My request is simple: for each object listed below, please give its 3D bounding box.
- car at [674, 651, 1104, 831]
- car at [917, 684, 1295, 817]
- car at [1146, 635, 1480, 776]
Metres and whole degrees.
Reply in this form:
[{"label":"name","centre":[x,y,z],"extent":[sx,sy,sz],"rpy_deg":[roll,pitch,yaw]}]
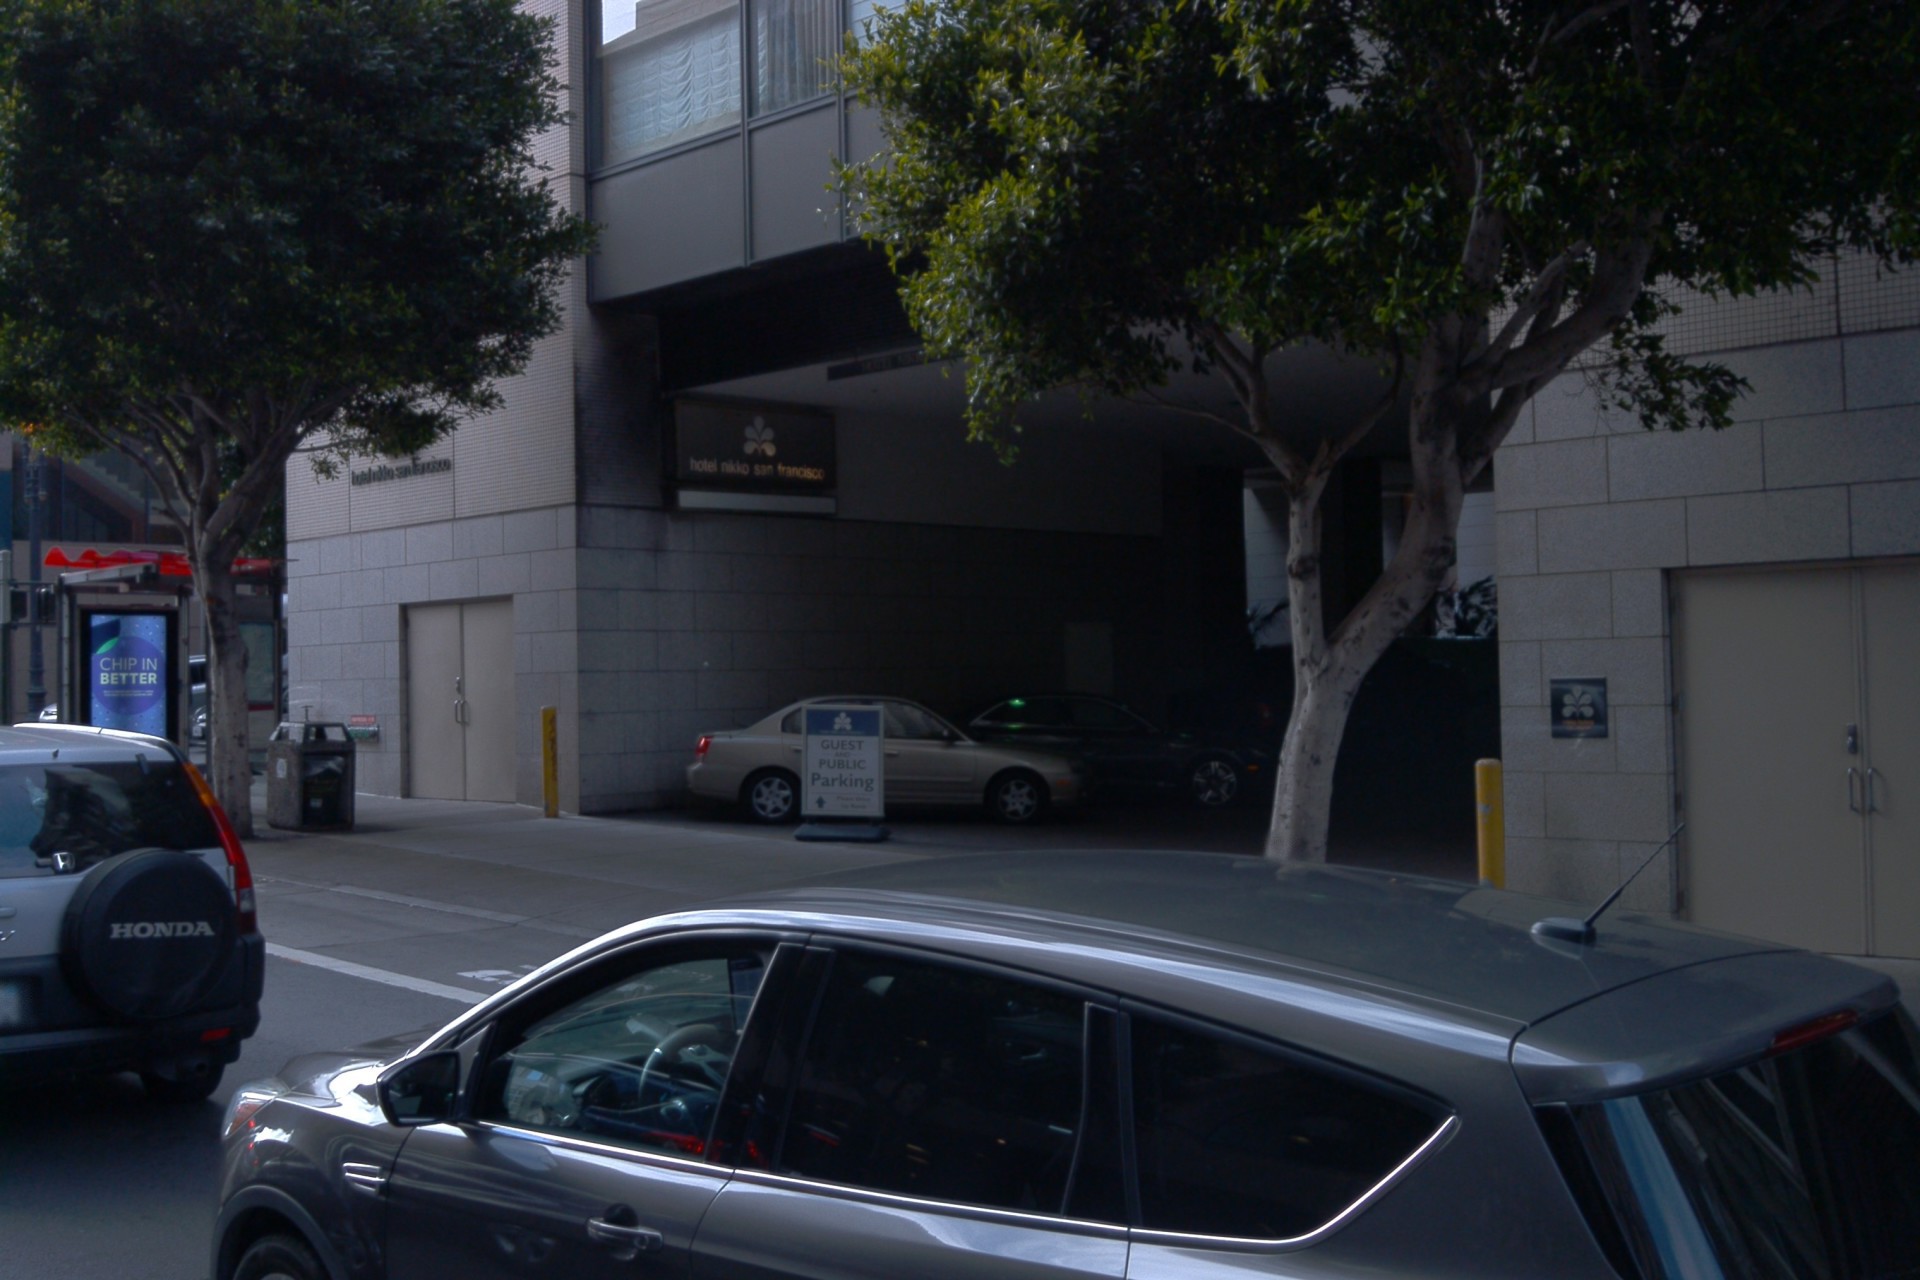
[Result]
[{"label":"car","centre":[-0.757,1.072,22.613],"extent":[4.538,1.860,1.771],"rpy_deg":[0,0,0]},{"label":"car","centre":[1.725,1.318,25.124],"extent":[4.429,1.500,1.858],"rpy_deg":[0,0,1]},{"label":"car","centre":[5.577,0.923,31.956],"extent":[5.637,1.970,2.175],"rpy_deg":[-1,1,-44]}]
